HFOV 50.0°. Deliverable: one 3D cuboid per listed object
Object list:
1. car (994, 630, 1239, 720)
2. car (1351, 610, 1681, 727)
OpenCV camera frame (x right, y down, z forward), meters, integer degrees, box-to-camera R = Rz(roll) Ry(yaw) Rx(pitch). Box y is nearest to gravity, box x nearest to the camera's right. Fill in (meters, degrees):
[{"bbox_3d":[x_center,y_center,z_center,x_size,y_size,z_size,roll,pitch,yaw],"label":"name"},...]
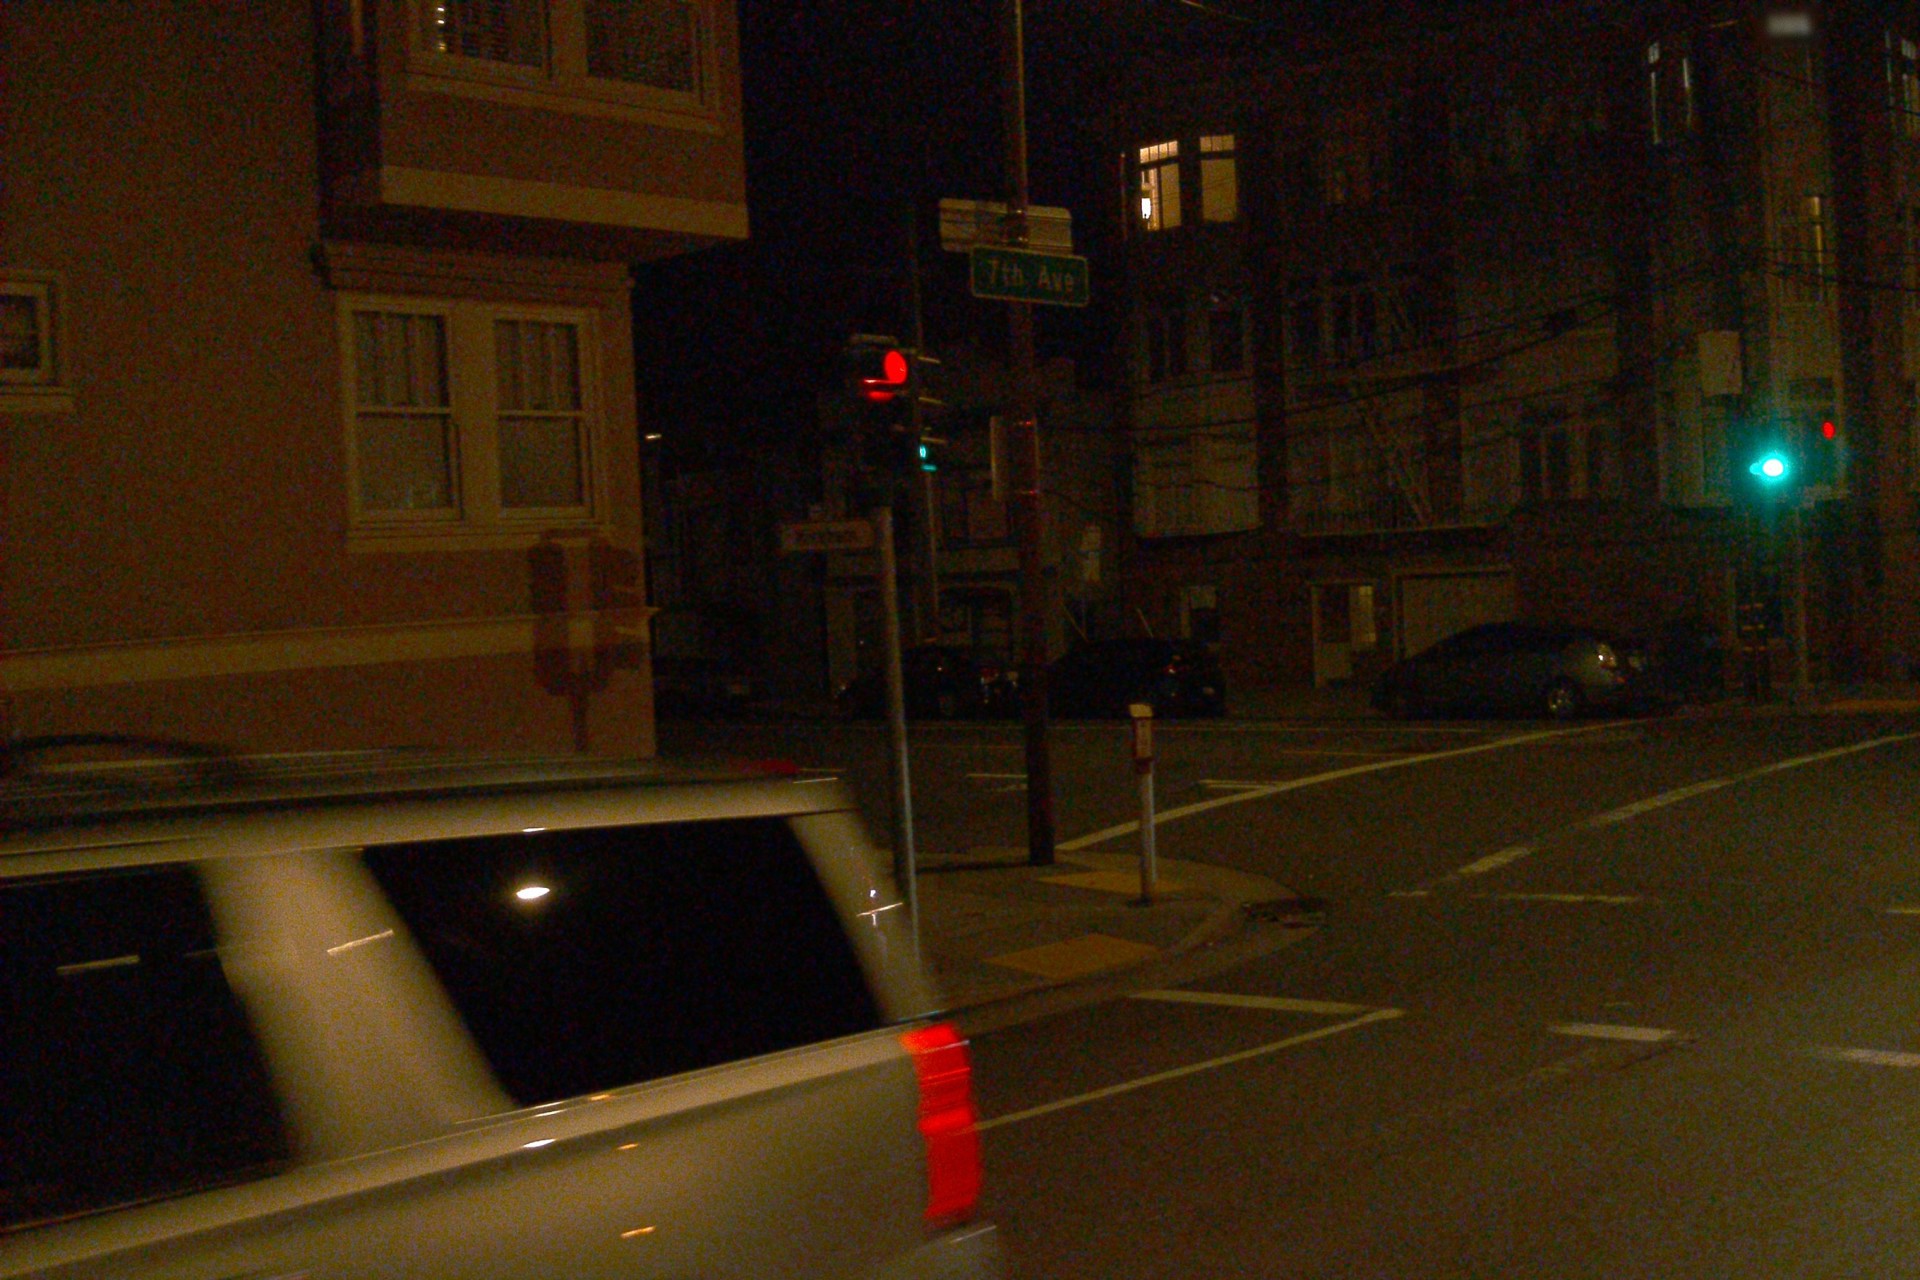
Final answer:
[{"bbox_3d":[2.755,0.577,36.704,4.150,1.470,1.786,1,1,43],"label":"car"},{"bbox_3d":[8.358,0.373,31.175,1.933,1.630,4.458,-1,1,-44],"label":"car"}]
